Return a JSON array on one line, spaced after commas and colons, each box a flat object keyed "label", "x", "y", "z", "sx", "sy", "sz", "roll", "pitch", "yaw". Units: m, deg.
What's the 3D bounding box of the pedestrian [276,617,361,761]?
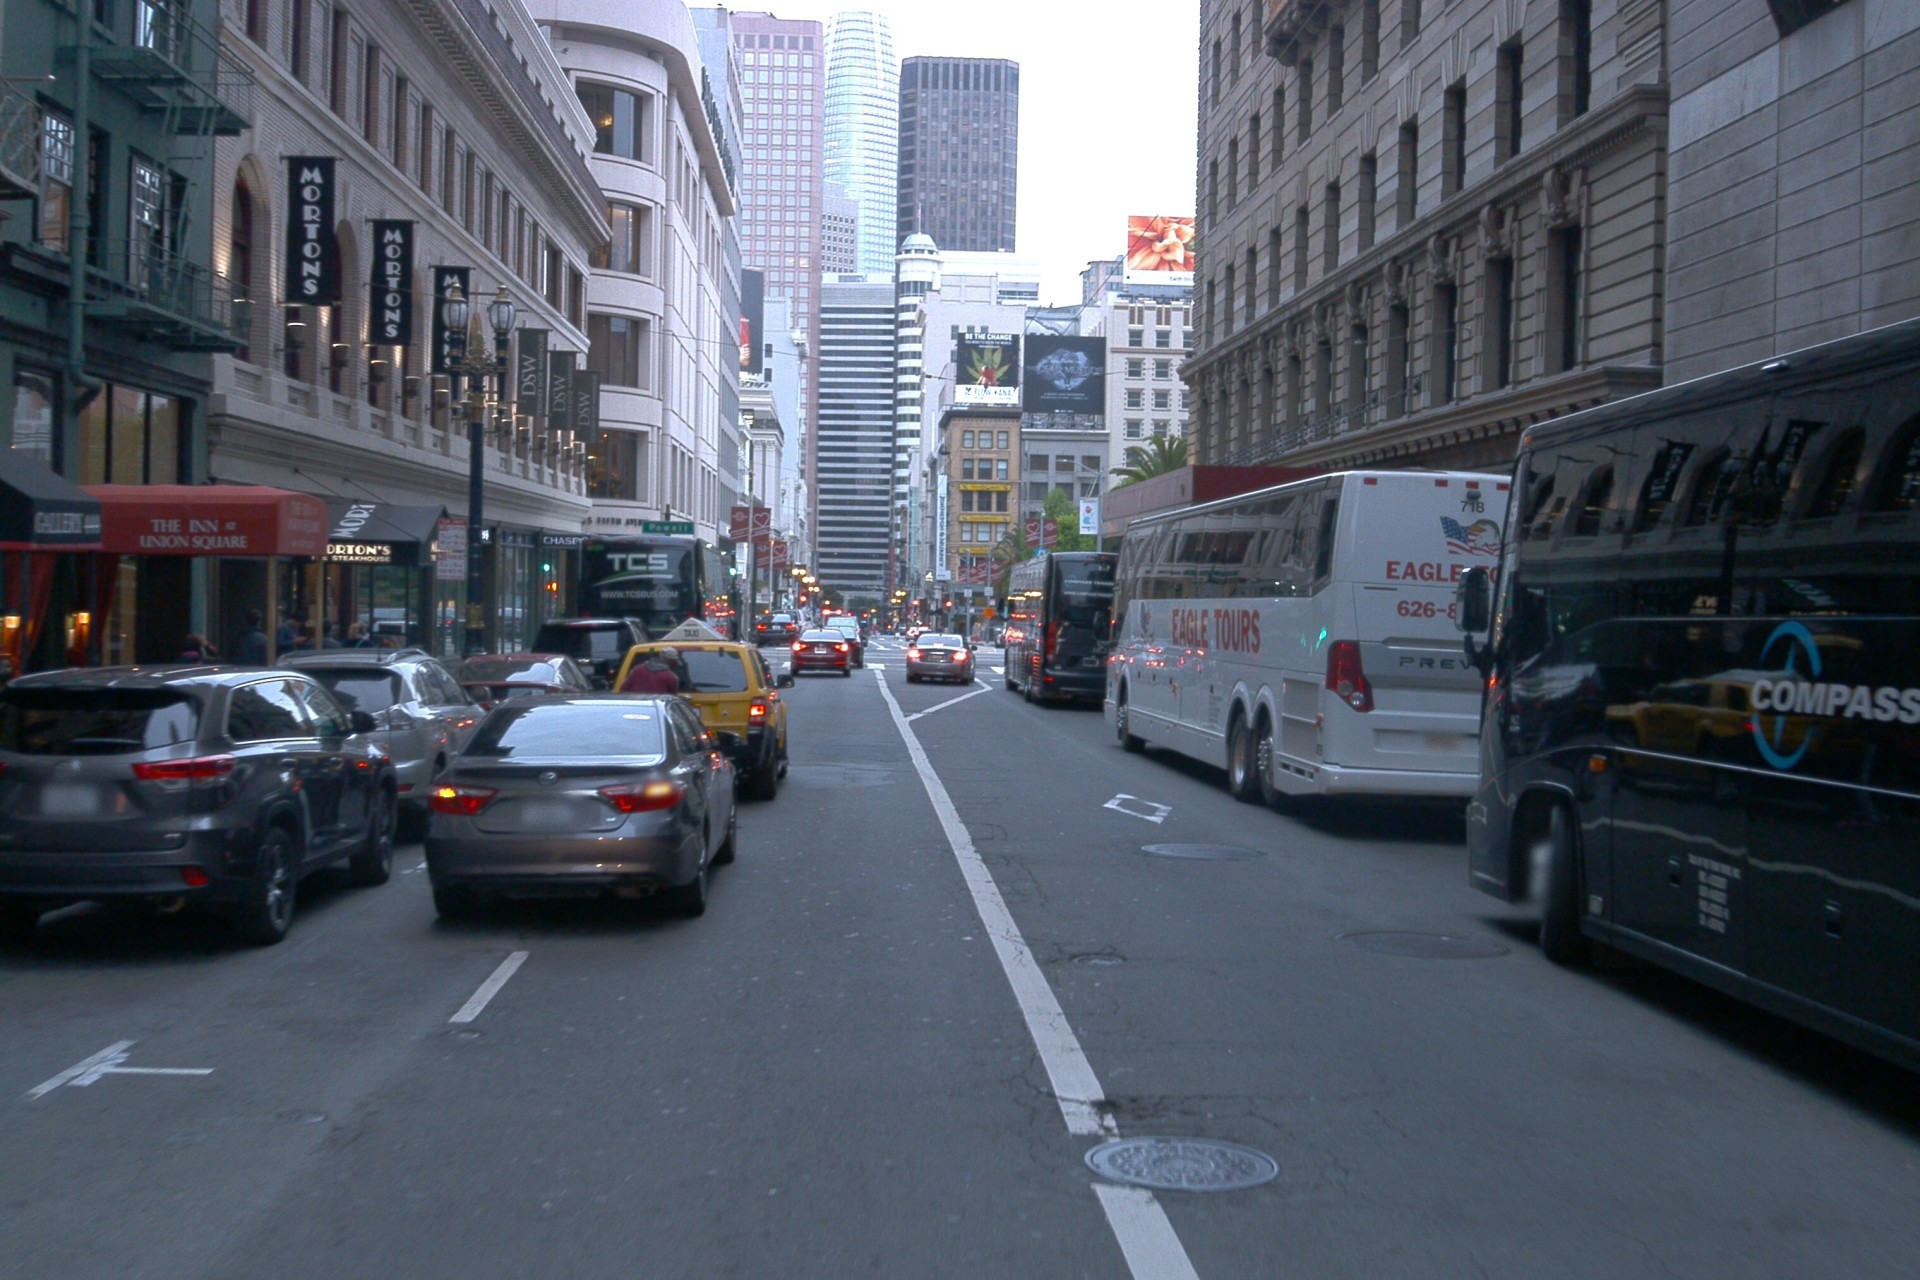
[{"label": "pedestrian", "x": -8.598, "y": 0.644, "z": 27.449, "sx": 0.917, "sy": 1.900, "sz": 0.883, "roll": 0, "pitch": 1, "yaw": -5}]

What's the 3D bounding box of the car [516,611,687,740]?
[{"label": "car", "x": -5.997, "y": 0.529, "z": 34.868, "sx": 2.283, "sy": 2.020, "sz": 5.588, "roll": 0, "pitch": 1, "yaw": -4}]

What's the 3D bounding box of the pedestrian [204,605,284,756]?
[{"label": "pedestrian", "x": -9.495, "y": 0.523, "z": 27.157, "sx": 0.794, "sy": 1.980, "sz": 0.883, "roll": 0, "pitch": 1, "yaw": -3}]

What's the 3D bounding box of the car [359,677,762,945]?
[{"label": "car", "x": -2.696, "y": 1.098, "z": 15.056, "sx": 2.149, "sy": 1.510, "sz": 4.905, "roll": 0, "pitch": 1, "yaw": -2}]

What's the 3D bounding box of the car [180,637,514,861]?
[{"label": "car", "x": -5.556, "y": 0.897, "z": 19.185, "sx": 2.092, "sy": 1.810, "sz": 4.553, "roll": 0, "pitch": 1, "yaw": -4}]

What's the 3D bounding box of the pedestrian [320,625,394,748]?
[{"label": "pedestrian", "x": -8.601, "y": 0.647, "z": 29.208, "sx": 0.799, "sy": 1.720, "sz": 0.929, "roll": 0, "pitch": 1, "yaw": -2}]

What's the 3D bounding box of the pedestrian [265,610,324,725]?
[{"label": "pedestrian", "x": -10.685, "y": 0.430, "z": 32.856, "sx": 0.687, "sy": 1.830, "sz": 0.715, "roll": 0, "pitch": 1, "yaw": 2}]

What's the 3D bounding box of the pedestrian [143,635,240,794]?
[{"label": "pedestrian", "x": -8.374, "y": 0.791, "z": 22.314, "sx": 0.802, "sy": 1.690, "sz": 0.869, "roll": 0, "pitch": 1, "yaw": -6}]

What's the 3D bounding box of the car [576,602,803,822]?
[{"label": "car", "x": -2.860, "y": 0.687, "z": 22.678, "sx": 2.088, "sy": 2.172, "sz": 4.975, "roll": 0, "pitch": 1, "yaw": -3}]

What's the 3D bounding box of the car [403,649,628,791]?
[{"label": "car", "x": -5.490, "y": 0.935, "z": 25.846, "sx": 2.096, "sy": 1.570, "sz": 4.514, "roll": 0, "pitch": 1, "yaw": -3}]

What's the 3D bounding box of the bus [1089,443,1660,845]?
[{"label": "bus", "x": 4.372, "y": -0.032, "z": 26.326, "sx": 3.307, "sy": 3.770, "sz": 14.119, "roll": 0, "pitch": 1, "yaw": -5}]

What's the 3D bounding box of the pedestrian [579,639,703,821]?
[{"label": "pedestrian", "x": -3.174, "y": 0.873, "z": 20.391, "sx": 0.911, "sy": 1.760, "sz": 0.856, "roll": 0, "pitch": 1, "yaw": 23}]
